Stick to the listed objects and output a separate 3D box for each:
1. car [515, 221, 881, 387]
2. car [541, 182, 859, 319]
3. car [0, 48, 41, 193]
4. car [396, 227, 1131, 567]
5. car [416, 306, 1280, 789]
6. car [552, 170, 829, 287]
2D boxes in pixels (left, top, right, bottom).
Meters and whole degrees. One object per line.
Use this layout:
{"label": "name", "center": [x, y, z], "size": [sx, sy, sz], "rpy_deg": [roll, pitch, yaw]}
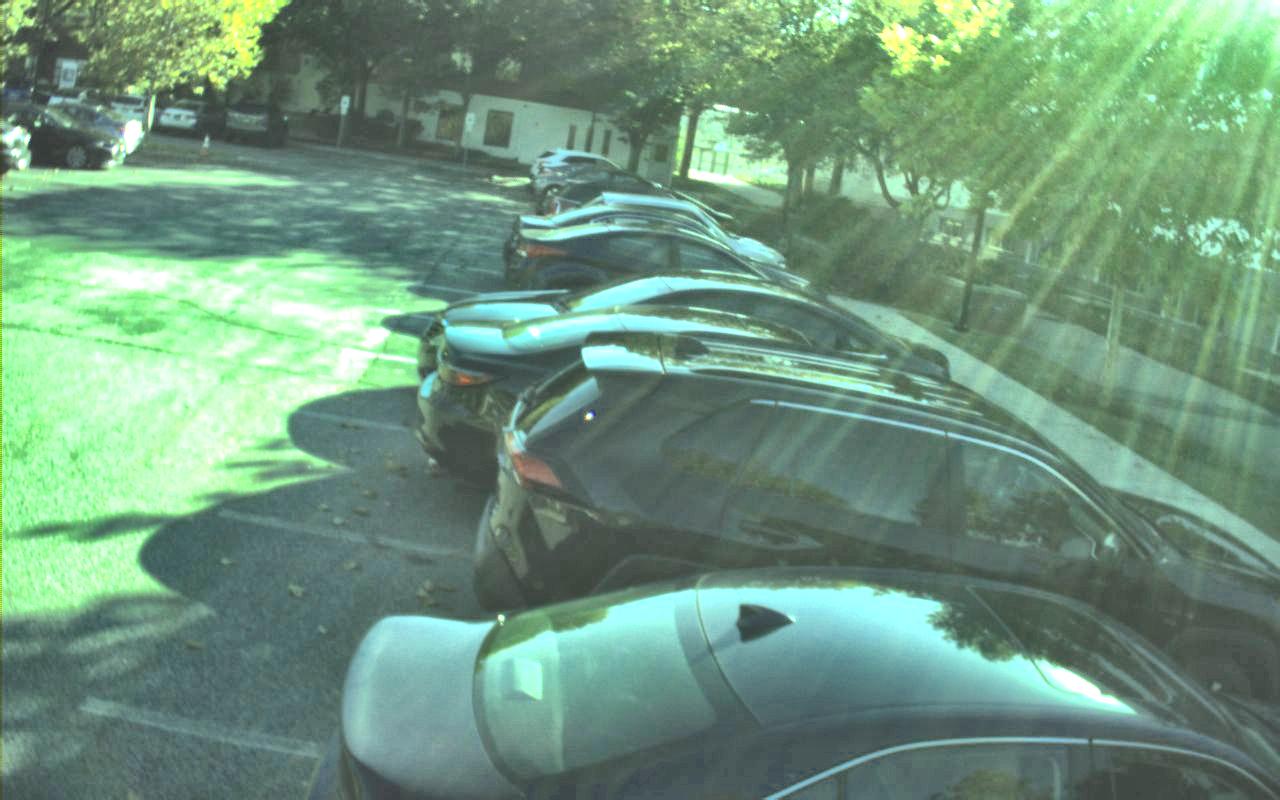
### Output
{"label": "car", "center": [0.676, -1.305, 16.183], "size": [4.445, 1.612, 1.961], "rpy_deg": [-2, 16, -4]}
{"label": "car", "center": [0.850, -2.305, 18.886], "size": [4.545, 1.636, 2.012], "rpy_deg": [-2, 16, -2]}
{"label": "car", "center": [-12.676, -4.679, 17.804], "size": [4.797, 1.842, 2.060], "rpy_deg": [-3, 16, -5]}
{"label": "car", "center": [0.793, -0.153, 8.562], "size": [4.570, 1.660, 2.038], "rpy_deg": [-2, 16, -5]}
{"label": "car", "center": [1.370, 0.601, 6.041], "size": [4.482, 1.675, 1.960], "rpy_deg": [-1, 16, -1]}
{"label": "car", "center": [0.819, -2.972, 21.440], "size": [4.514, 1.631, 1.986], "rpy_deg": [-1, 16, -1]}
